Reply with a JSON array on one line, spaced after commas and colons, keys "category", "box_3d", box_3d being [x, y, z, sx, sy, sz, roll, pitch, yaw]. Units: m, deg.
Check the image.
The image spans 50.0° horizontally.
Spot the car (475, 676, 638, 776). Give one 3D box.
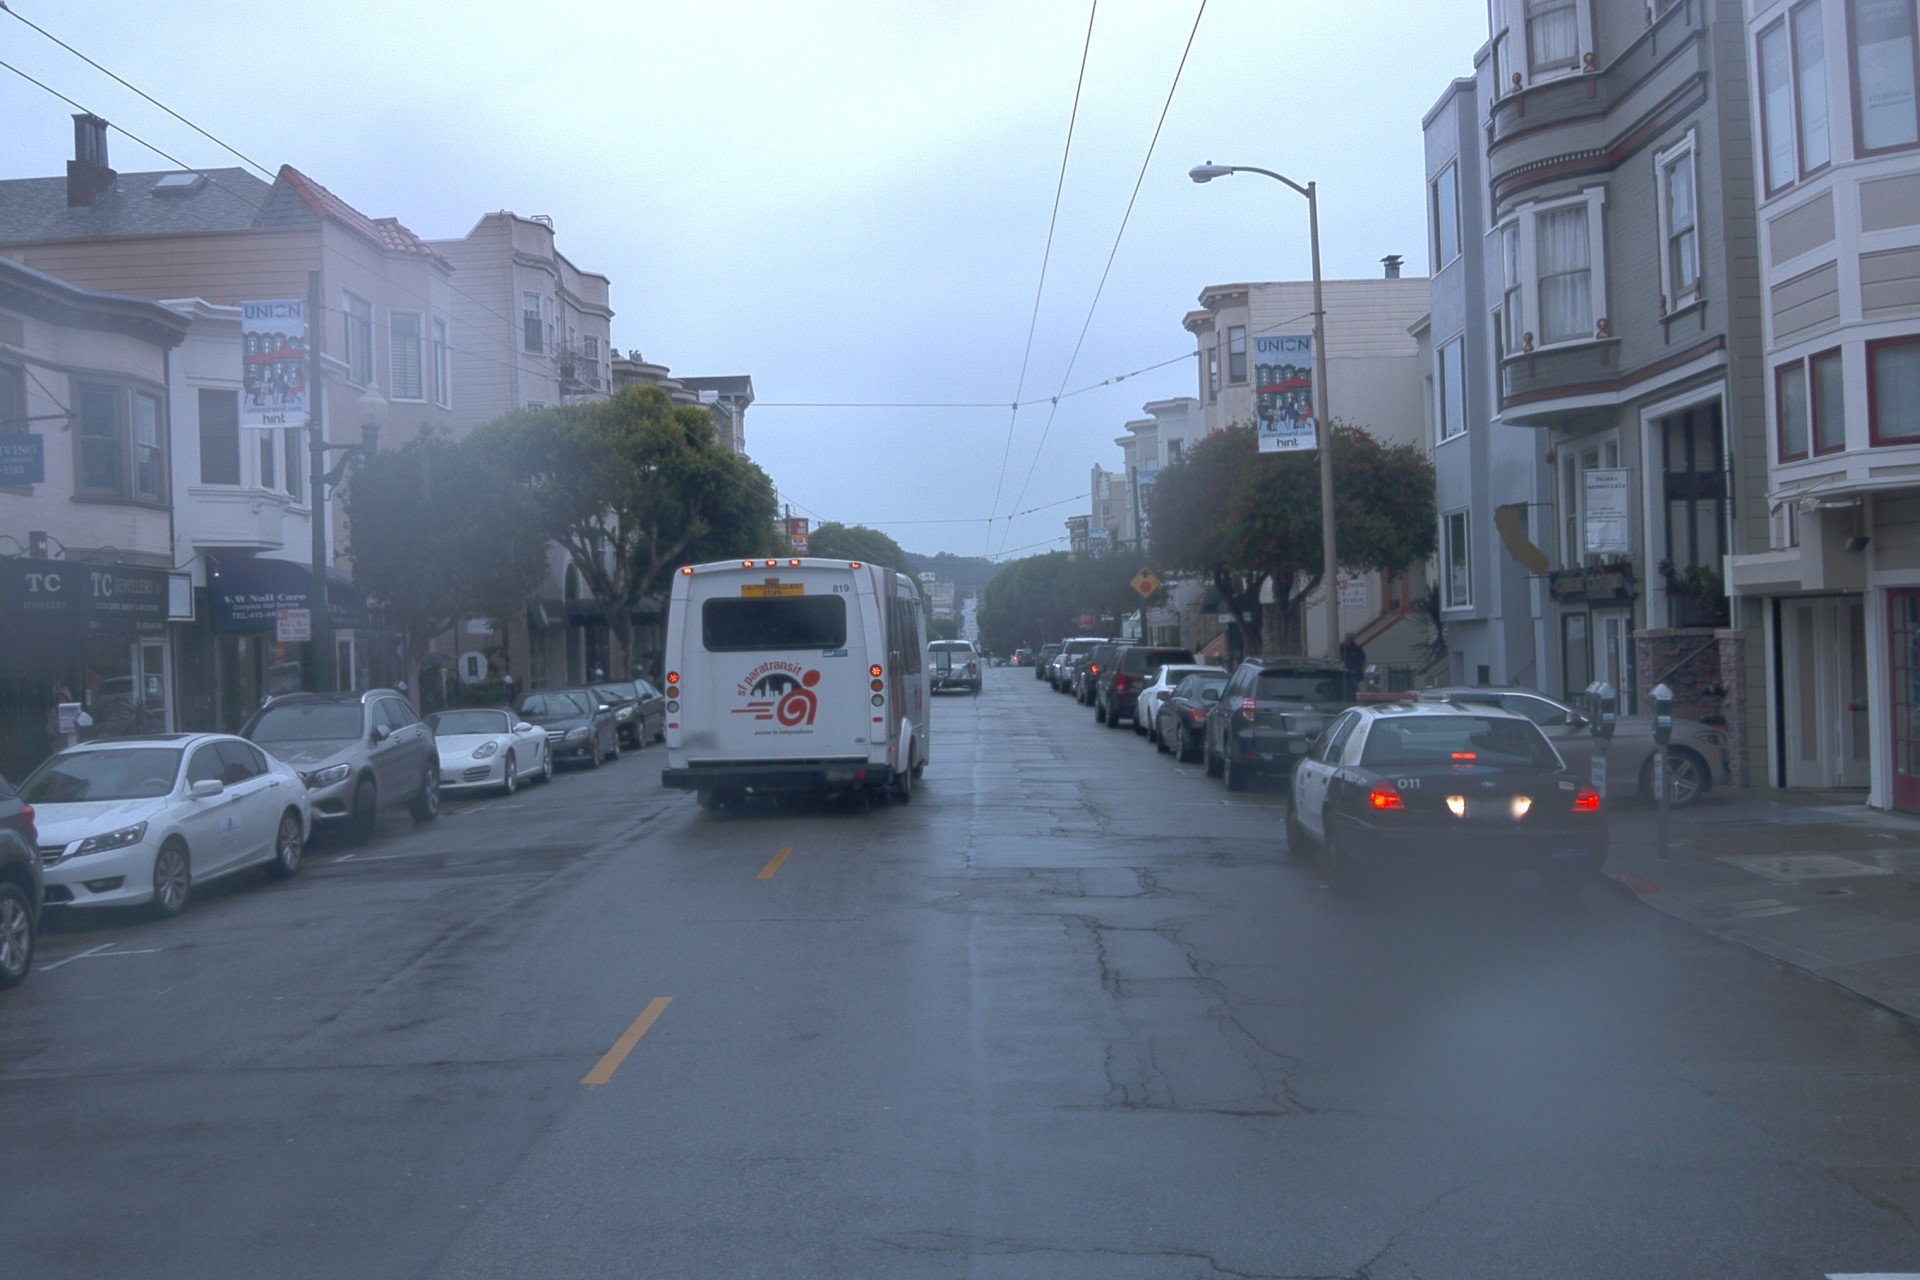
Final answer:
[{"category": "car", "box_3d": [-6.993, 1.453, 36.188, 2.149, 1.490, 4.930, 1, 1, -3]}]

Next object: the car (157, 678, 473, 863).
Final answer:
[{"category": "car", "box_3d": [-7.310, 1.405, 23.943, 2.149, 1.760, 4.917, 1, 1, 0]}]

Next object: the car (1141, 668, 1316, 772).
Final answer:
[{"category": "car", "box_3d": [4.263, 1.234, 33.422, 2.068, 1.440, 4.640, 1, 1, -2]}]

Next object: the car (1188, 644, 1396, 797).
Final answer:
[{"category": "car", "box_3d": [4.293, 0.983, 27.360, 2.116, 1.790, 4.480, 1, 1, 1]}]

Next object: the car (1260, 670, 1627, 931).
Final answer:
[{"category": "car", "box_3d": [3.807, 1.172, 17.275, 2.108, 1.690, 5.363, 1, 1, 4]}]

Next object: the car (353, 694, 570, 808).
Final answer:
[{"category": "car", "box_3d": [-7.232, 1.574, 30.396, 2.114, 1.370, 4.598, 1, 1, 0]}]

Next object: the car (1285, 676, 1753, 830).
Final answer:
[{"category": "car", "box_3d": [5.844, 1.164, 21.951, 4.459, 1.470, 1.876, 1, 1, 0]}]

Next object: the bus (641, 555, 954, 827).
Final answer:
[{"category": "bus", "box_3d": [-1.742, 0.499, 25.185, 2.789, 2.850, 6.702, 1, 1, 4]}]
